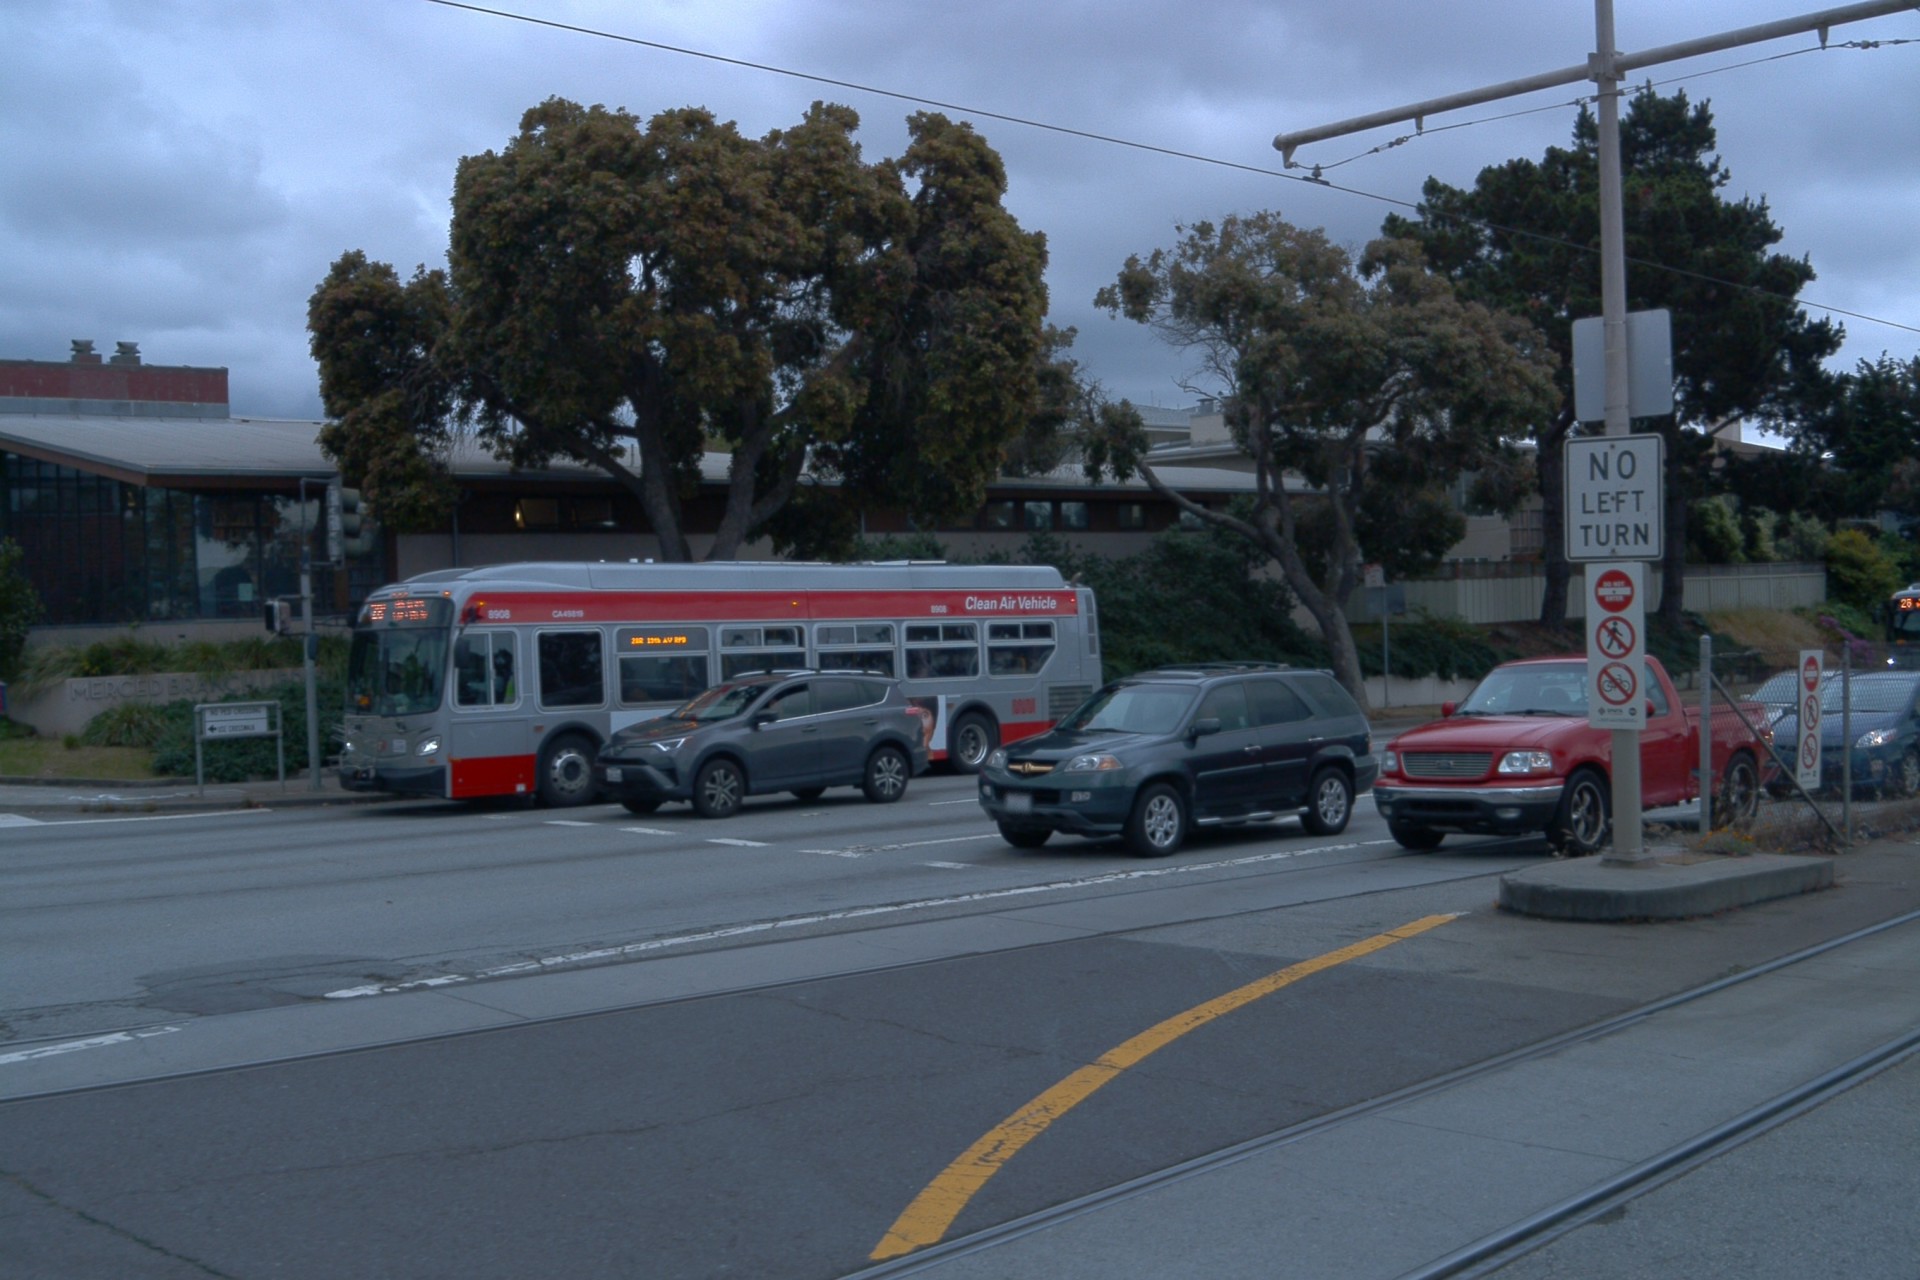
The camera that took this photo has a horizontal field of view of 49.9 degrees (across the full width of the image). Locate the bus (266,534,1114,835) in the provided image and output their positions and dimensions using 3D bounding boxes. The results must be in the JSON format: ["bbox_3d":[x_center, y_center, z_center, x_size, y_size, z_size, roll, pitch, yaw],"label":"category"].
[{"bbox_3d":[-3.207,0.438,29.515,12.543,3.510,3.147,-1,1,-43],"label":"bus"}]

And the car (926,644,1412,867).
[{"bbox_3d":[2.215,1.029,20.760,4.990,1.890,2.154,-1,1,-44],"label":"car"}]

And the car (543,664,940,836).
[{"bbox_3d":[-2.581,1.248,25.186,4.527,1.780,1.998,-1,1,-43],"label":"car"}]

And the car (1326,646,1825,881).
[{"bbox_3d":[6.104,1.042,20.027,5.391,1.880,2.355,-1,1,-45],"label":"car"}]
